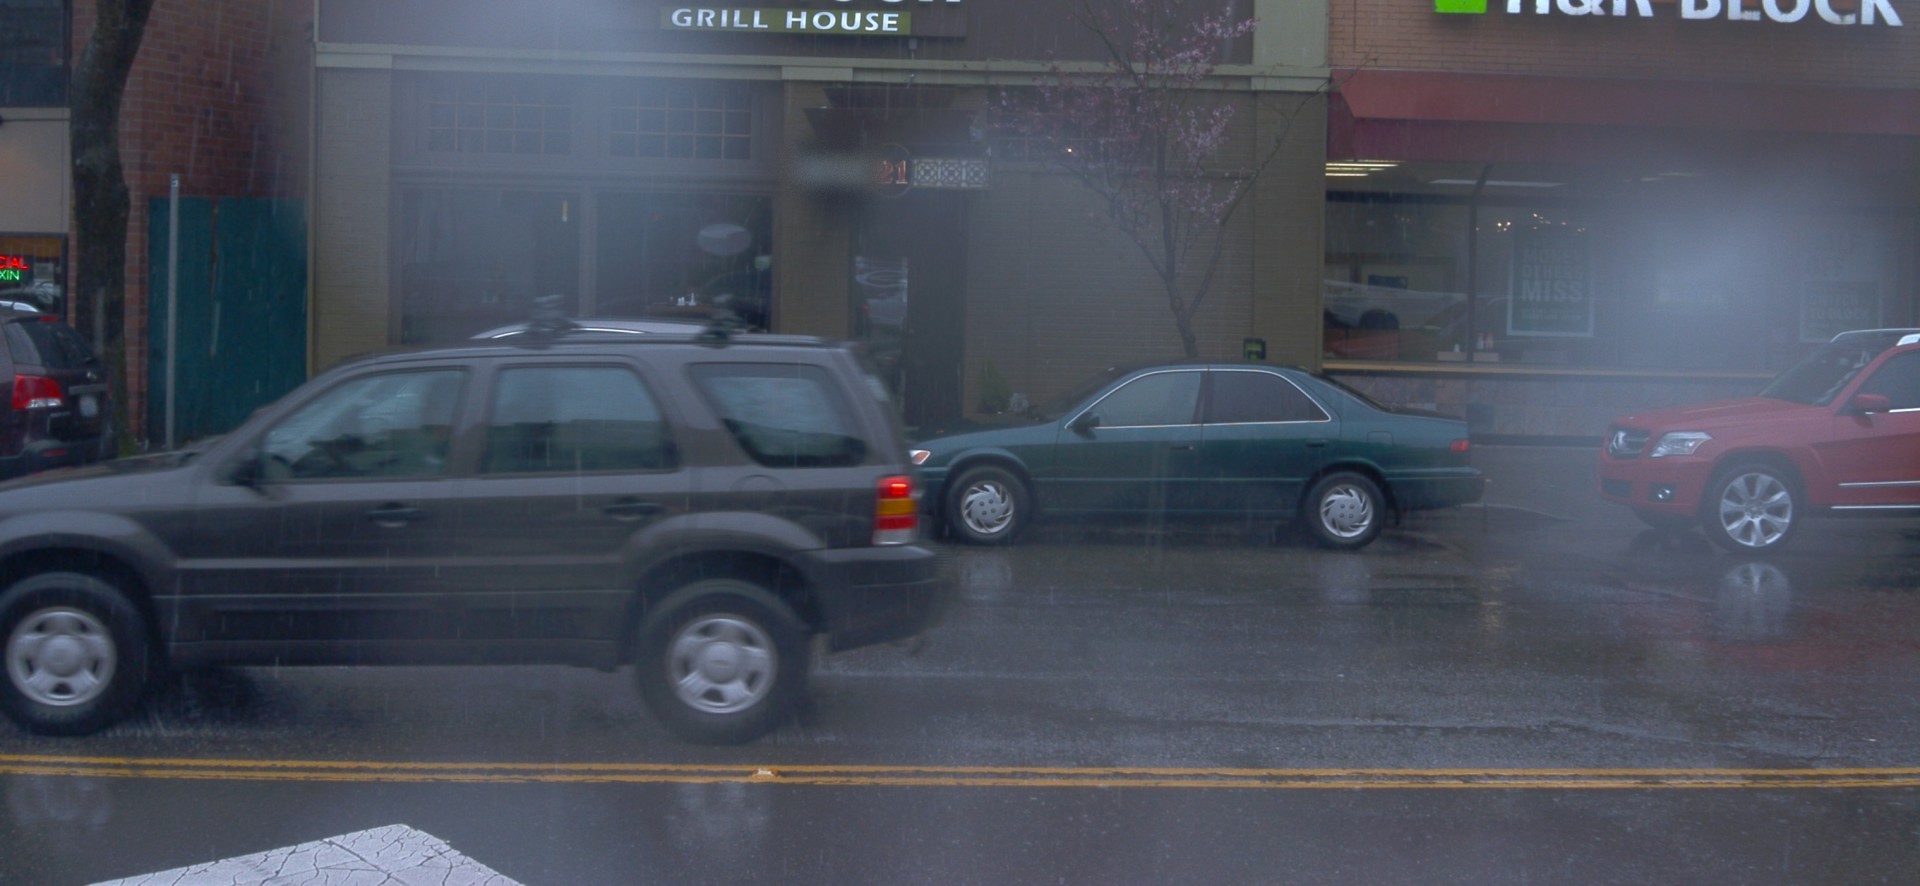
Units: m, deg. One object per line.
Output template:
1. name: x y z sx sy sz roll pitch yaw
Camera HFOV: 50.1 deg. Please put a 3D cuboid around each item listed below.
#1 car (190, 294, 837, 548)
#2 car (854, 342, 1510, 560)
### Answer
1. car: -3.279 -0.214 15.797 4.605 1.724 1.918 0 4 -5
2. car: 1.595 0.018 15.964 4.796 1.414 1.988 1 5 -2
